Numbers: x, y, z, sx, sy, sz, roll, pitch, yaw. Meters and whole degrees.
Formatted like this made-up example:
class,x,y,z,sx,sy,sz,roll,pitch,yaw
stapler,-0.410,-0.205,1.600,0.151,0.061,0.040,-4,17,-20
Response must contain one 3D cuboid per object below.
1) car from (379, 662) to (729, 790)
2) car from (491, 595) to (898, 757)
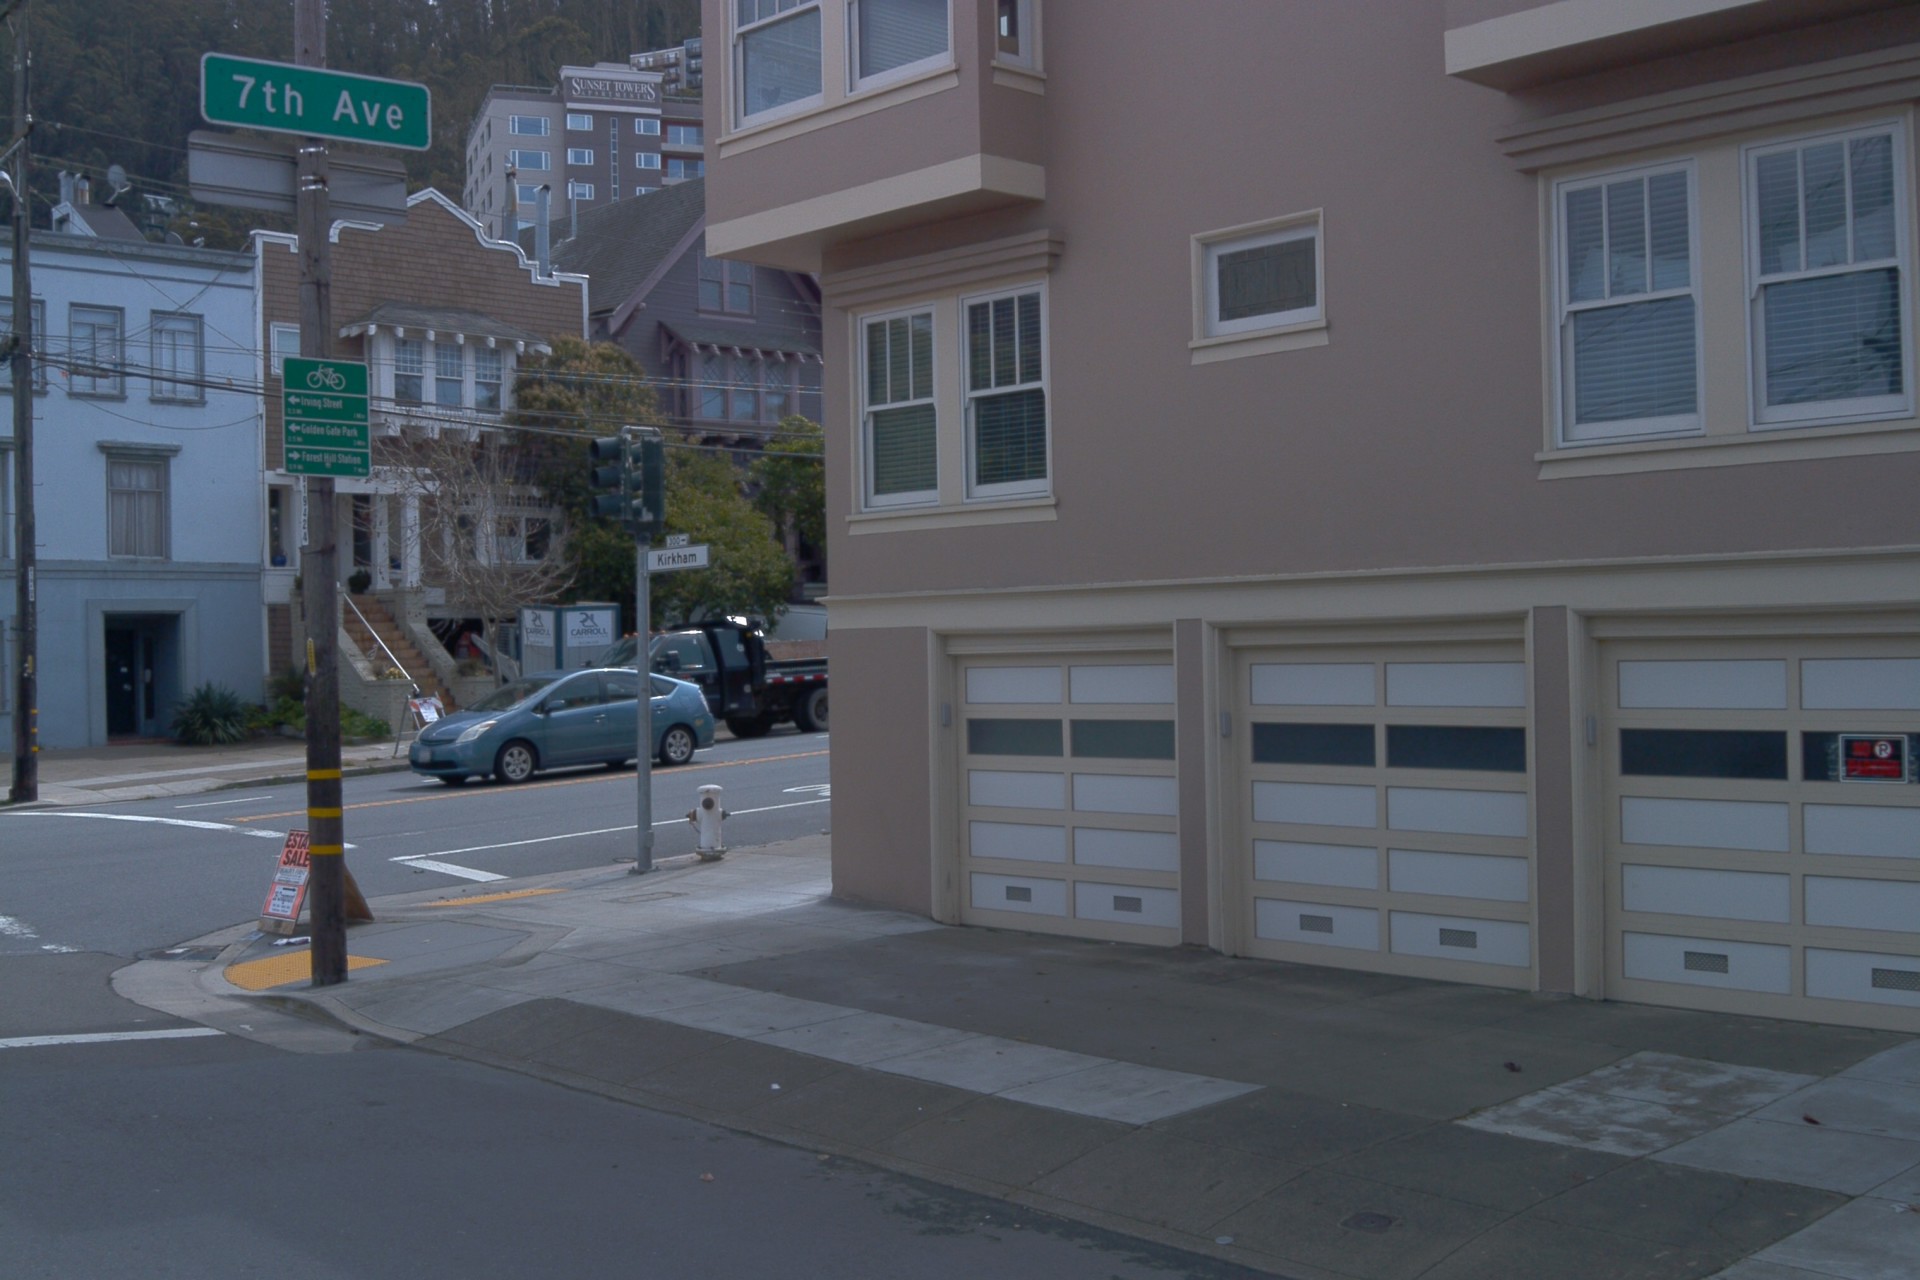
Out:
class,x,y,z,sx,sy,sz,roll,pitch,yaw
car,-5.564,1.124,28.592,1.994,1.600,4.408,0,0,45
car,-4.462,0.567,35.723,6.727,2.550,2.715,0,0,-45
